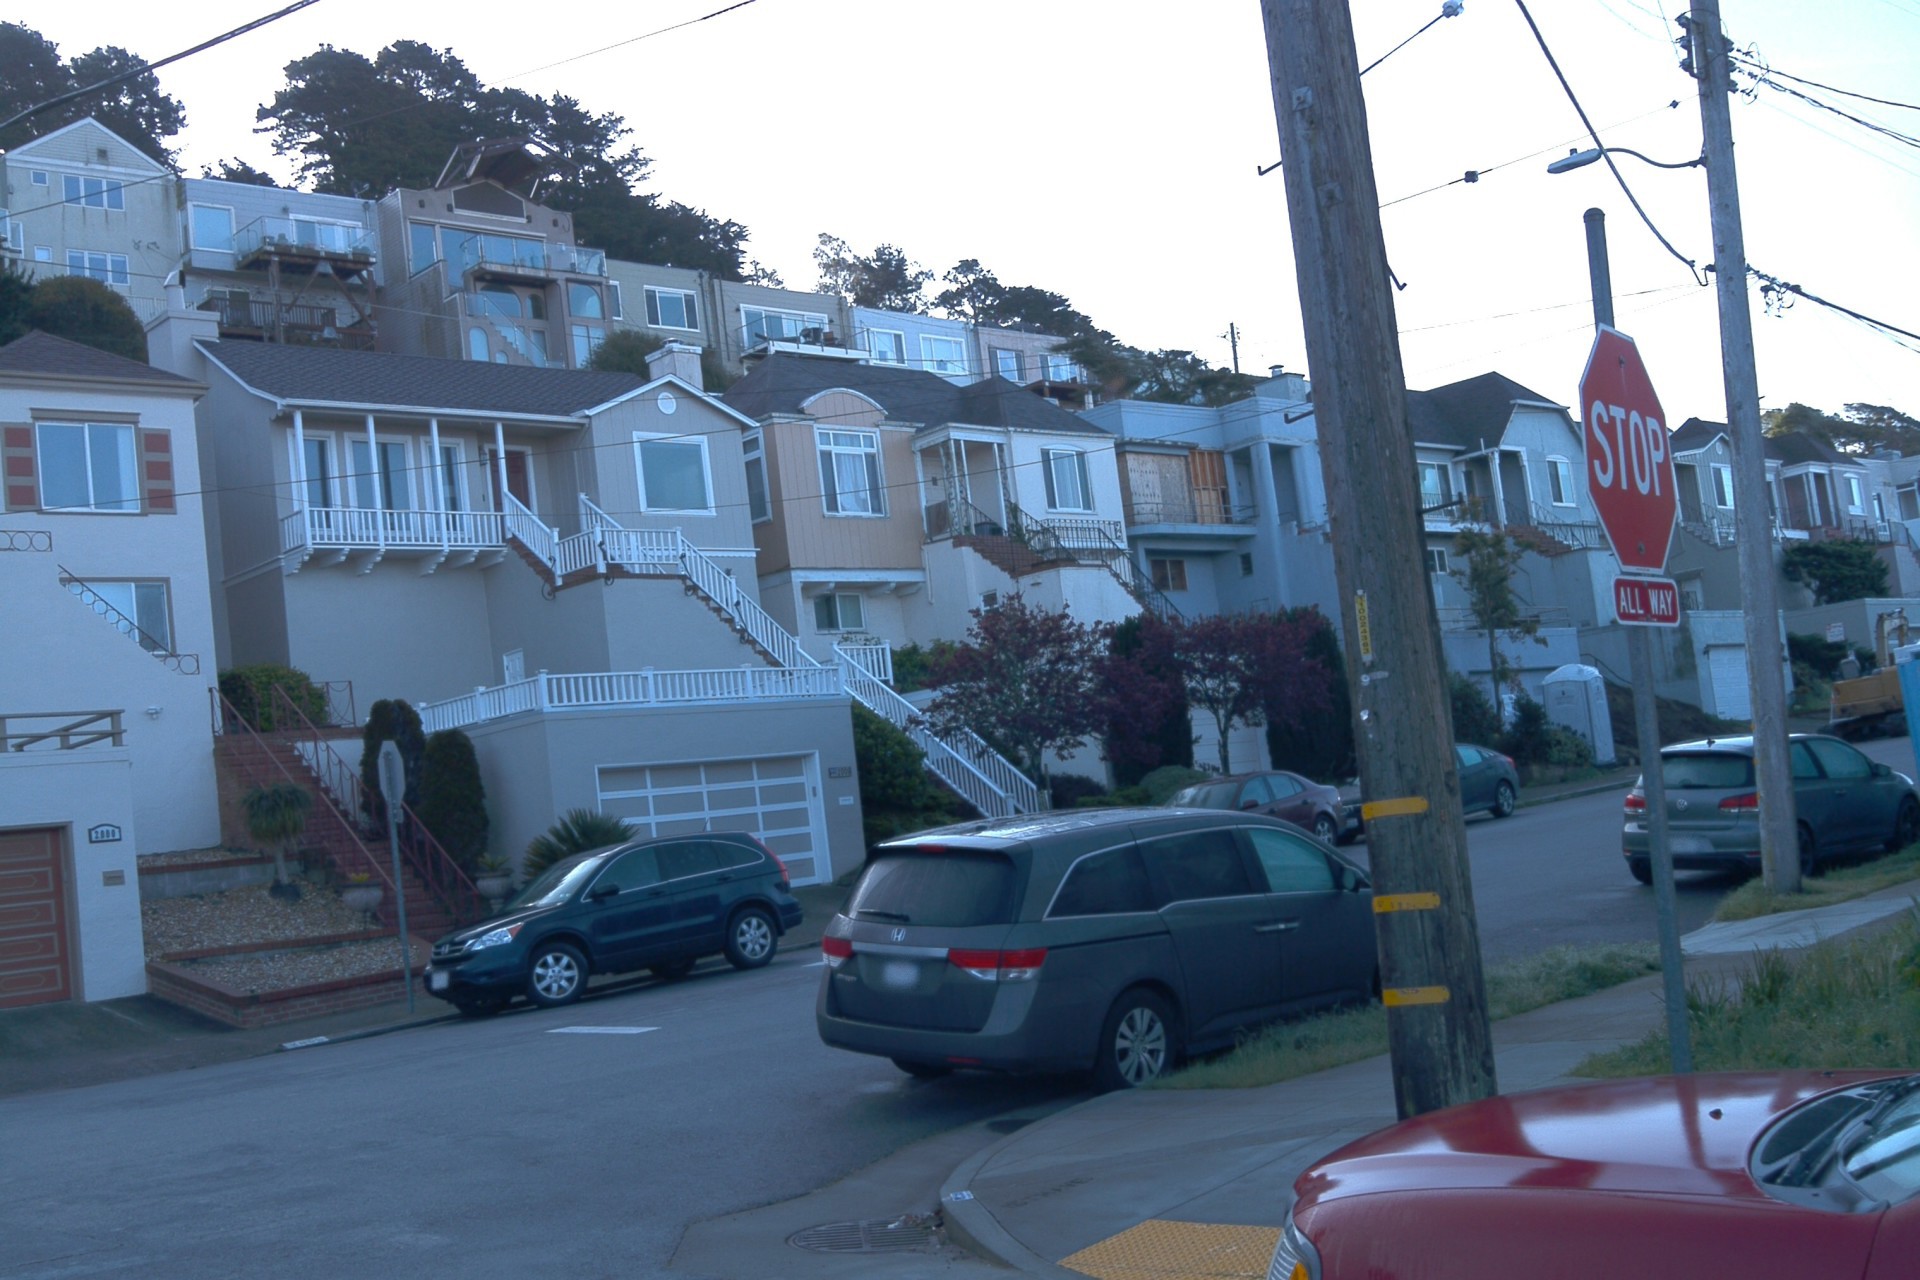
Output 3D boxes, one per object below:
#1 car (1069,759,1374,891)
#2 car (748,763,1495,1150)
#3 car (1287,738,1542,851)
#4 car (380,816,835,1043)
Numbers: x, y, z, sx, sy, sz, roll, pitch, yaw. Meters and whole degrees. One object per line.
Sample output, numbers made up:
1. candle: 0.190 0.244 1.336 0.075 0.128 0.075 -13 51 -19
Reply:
1. car: 4.031 2.712 31.149 2.151 1.560 4.797 0 0 43
2. car: 1.305 1.936 14.255 2.390 1.860 5.188 0 0 44
3. car: 7.807 2.559 35.090 2.163 1.560 4.754 0 0 42
4. car: -3.918 3.156 23.431 4.680 1.910 2.207 0 0 -44
